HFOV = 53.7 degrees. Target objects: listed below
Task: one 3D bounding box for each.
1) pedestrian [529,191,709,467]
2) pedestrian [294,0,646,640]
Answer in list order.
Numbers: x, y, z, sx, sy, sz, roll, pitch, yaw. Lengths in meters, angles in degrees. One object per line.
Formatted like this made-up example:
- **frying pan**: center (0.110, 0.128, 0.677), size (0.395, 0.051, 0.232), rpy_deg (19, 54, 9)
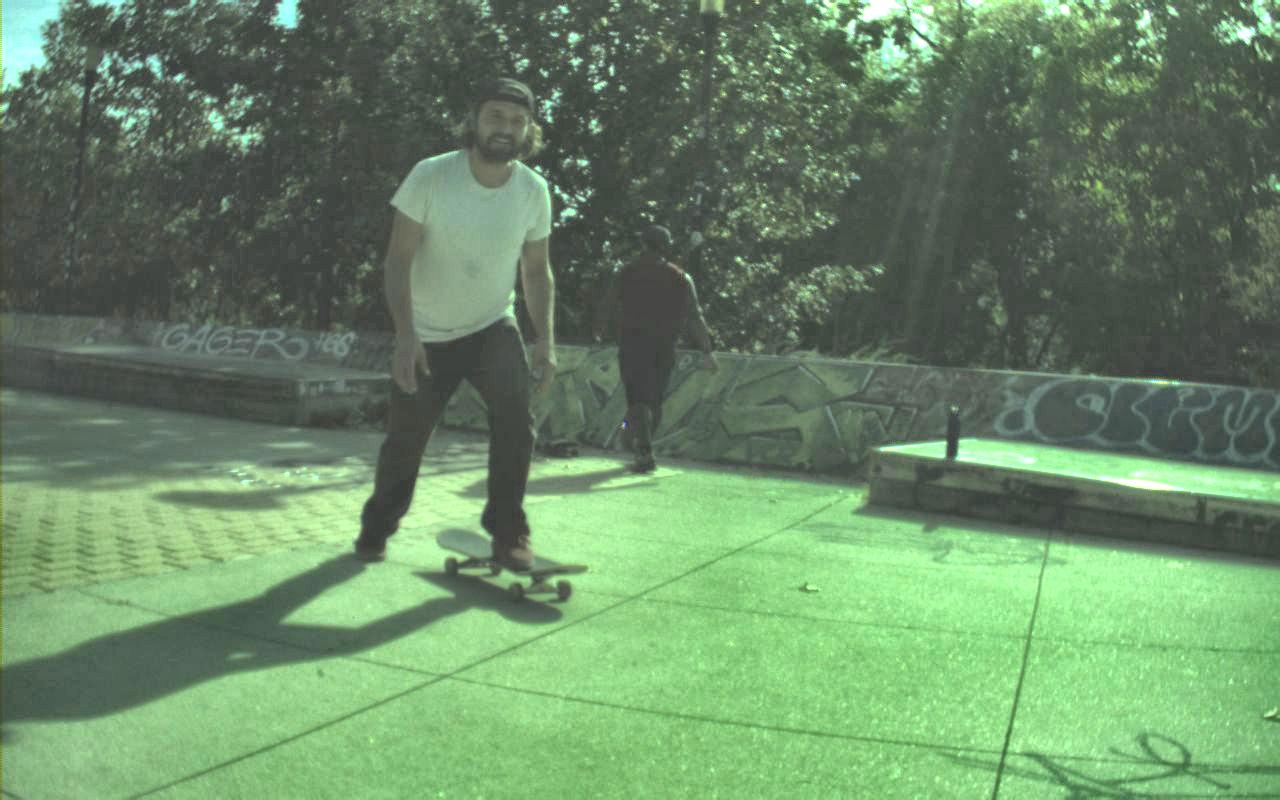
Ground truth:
- **pedestrian**: center (-0.149, -0.457, 8.438), size (0.868, 1.724, 0.884), rpy_deg (0, 0, -31)
- **pedestrian**: center (-0.565, -0.260, 3.767), size (0.846, 1.764, 0.901), rpy_deg (0, 0, -26)
